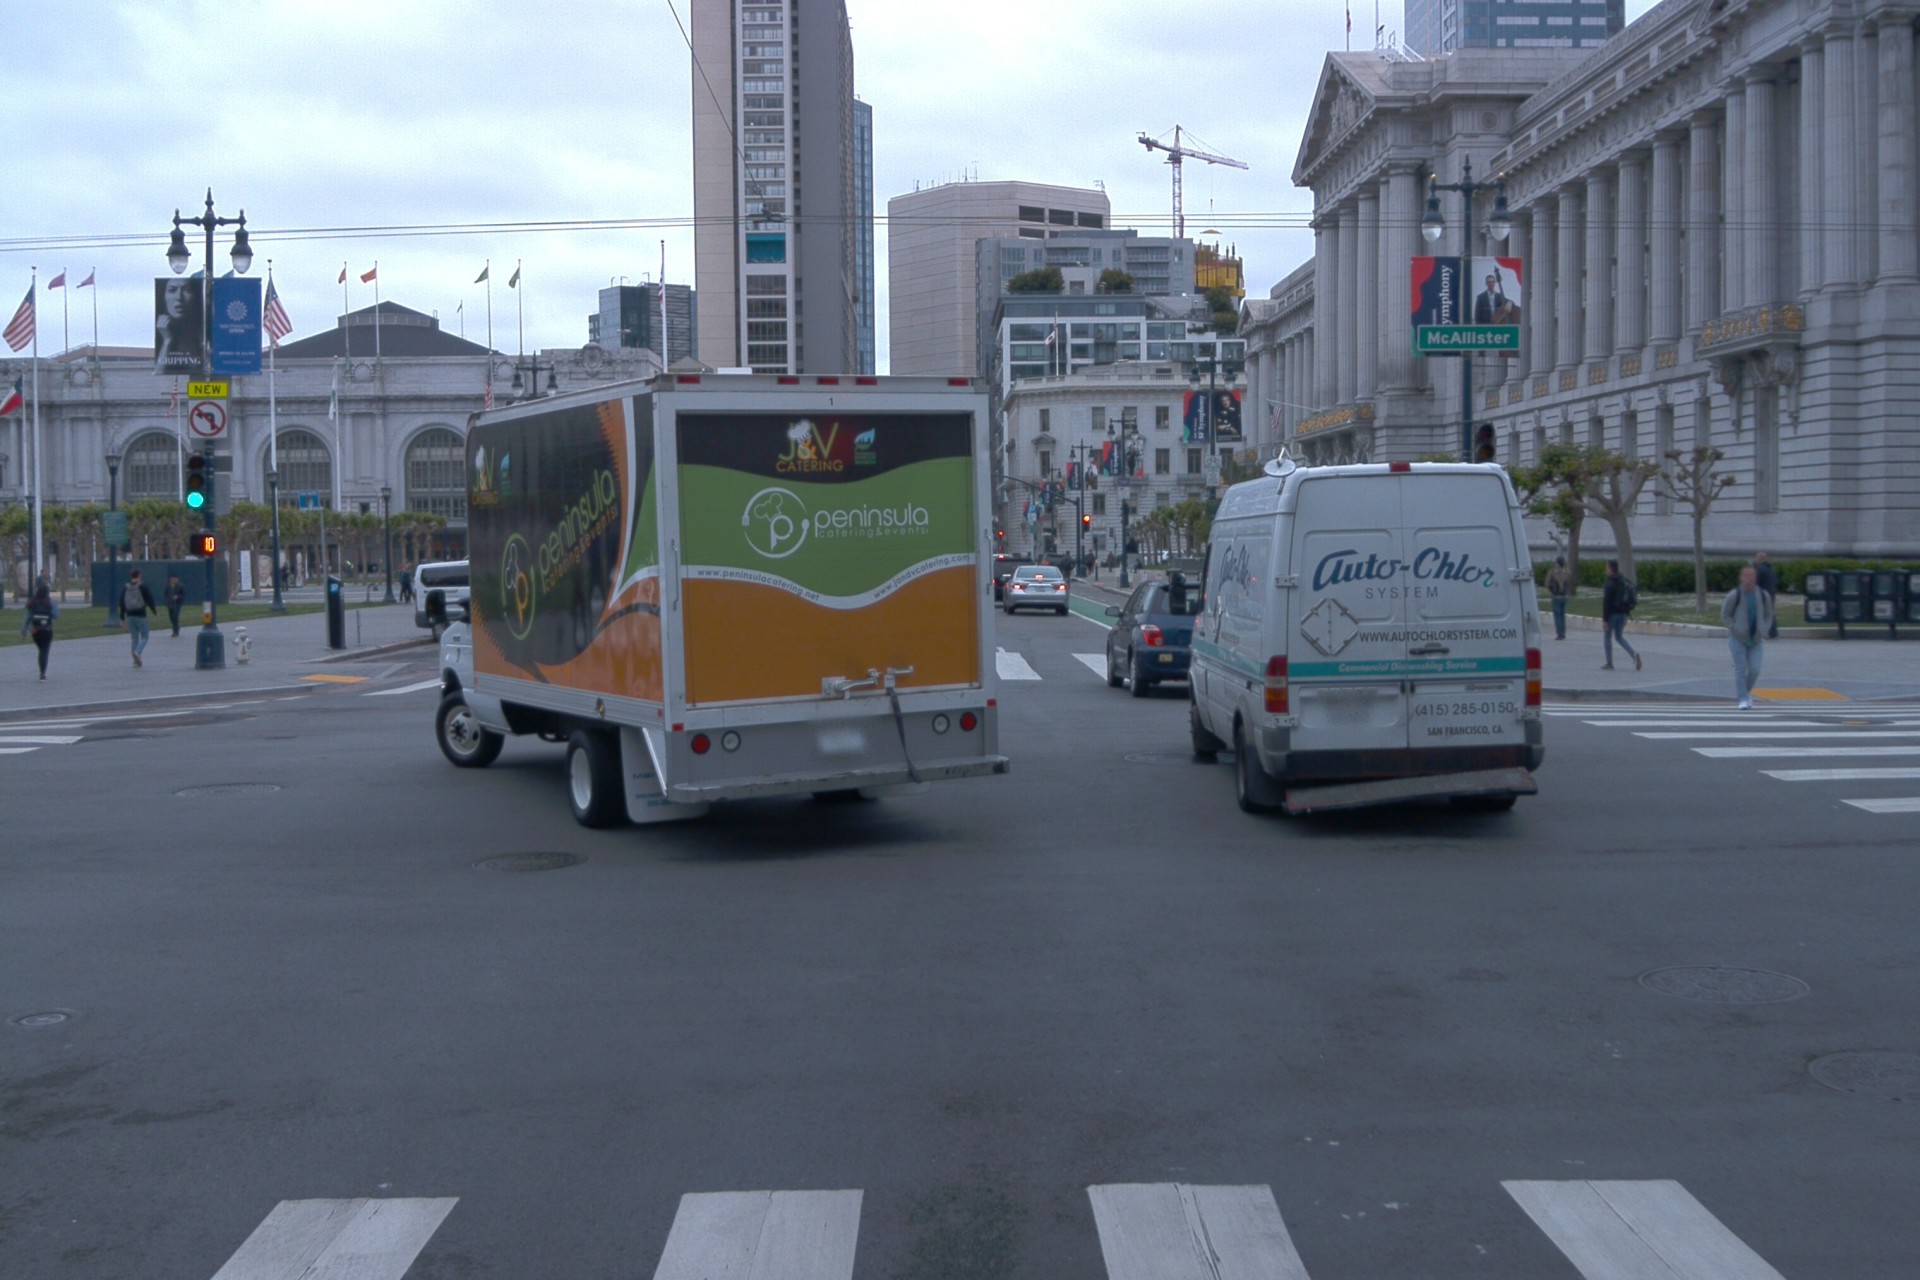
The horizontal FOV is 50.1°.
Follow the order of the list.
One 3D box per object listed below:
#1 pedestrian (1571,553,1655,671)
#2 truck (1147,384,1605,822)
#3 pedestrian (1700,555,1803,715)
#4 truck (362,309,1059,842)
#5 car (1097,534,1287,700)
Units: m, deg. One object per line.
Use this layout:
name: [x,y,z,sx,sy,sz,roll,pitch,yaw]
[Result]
pedestrian: [9.917,-0.433,31.241,0.829,1.760,0.937,-1,1,-17]
truck: [2.997,-0.289,16.525,2.404,2.850,6.221,0,1,0]
pedestrian: [9.428,-0.066,24.532,0.811,1.850,1.152,0,1,2]
truck: [-2.426,-0.454,16.617,2.905,3.300,7.315,-1,1,-30]
car: [2.924,-0.312,26.738,1.934,1.990,4.032,0,1,-1]
